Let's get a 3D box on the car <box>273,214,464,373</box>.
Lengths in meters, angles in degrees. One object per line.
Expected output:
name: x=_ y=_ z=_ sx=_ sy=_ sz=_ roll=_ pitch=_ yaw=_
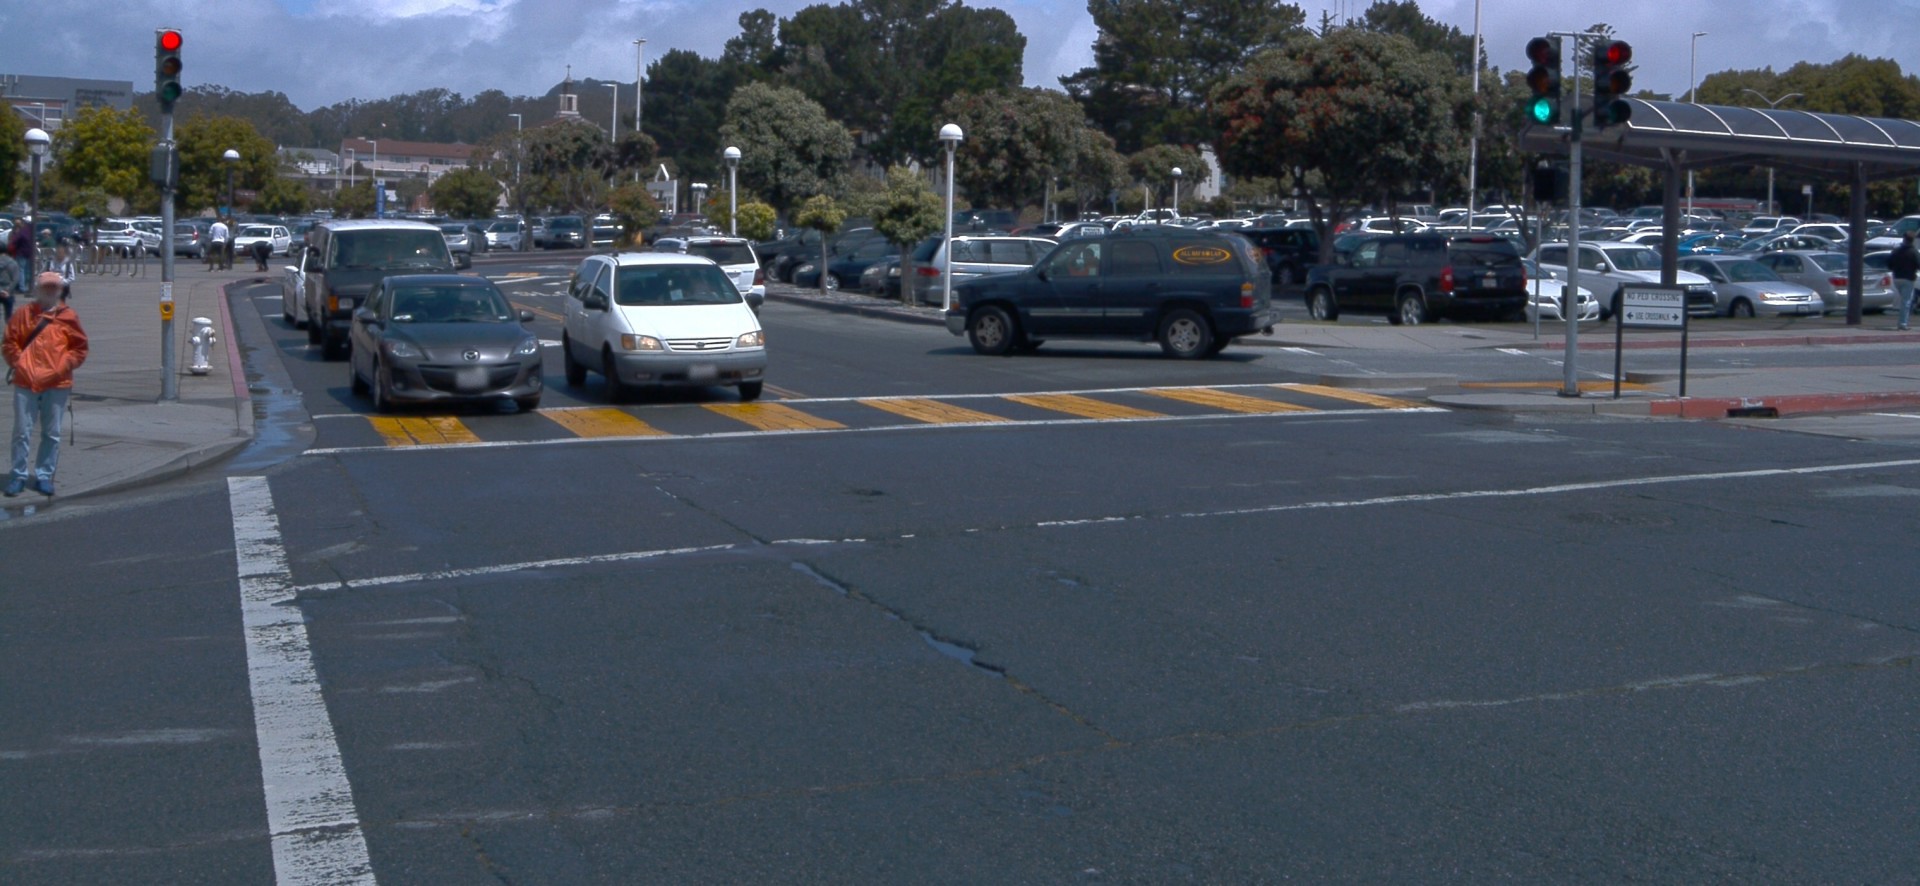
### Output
car: x=-9.206 y=-2.412 z=31.841 sx=2.374 sy=2.189 sz=5.385 roll=-2 pitch=6 yaw=-20

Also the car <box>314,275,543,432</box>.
car: x=-6.166 y=-1.111 z=23.624 sx=1.964 sy=1.442 sz=4.394 roll=-2 pitch=6 yaw=-22

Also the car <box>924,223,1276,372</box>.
car: x=2.131 y=-2.241 z=31.121 sx=4.902 sy=2.080 sz=2.158 roll=1 pitch=4 yaw=19

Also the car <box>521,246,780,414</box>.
car: x=-3.887 y=-1.480 z=25.235 sx=2.029 sy=1.741 sz=4.628 roll=-2 pitch=6 yaw=-23

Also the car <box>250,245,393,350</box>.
car: x=-11.927 y=-2.774 z=38.422 sx=2.065 sy=1.721 sz=4.571 roll=-2 pitch=6 yaw=-23
